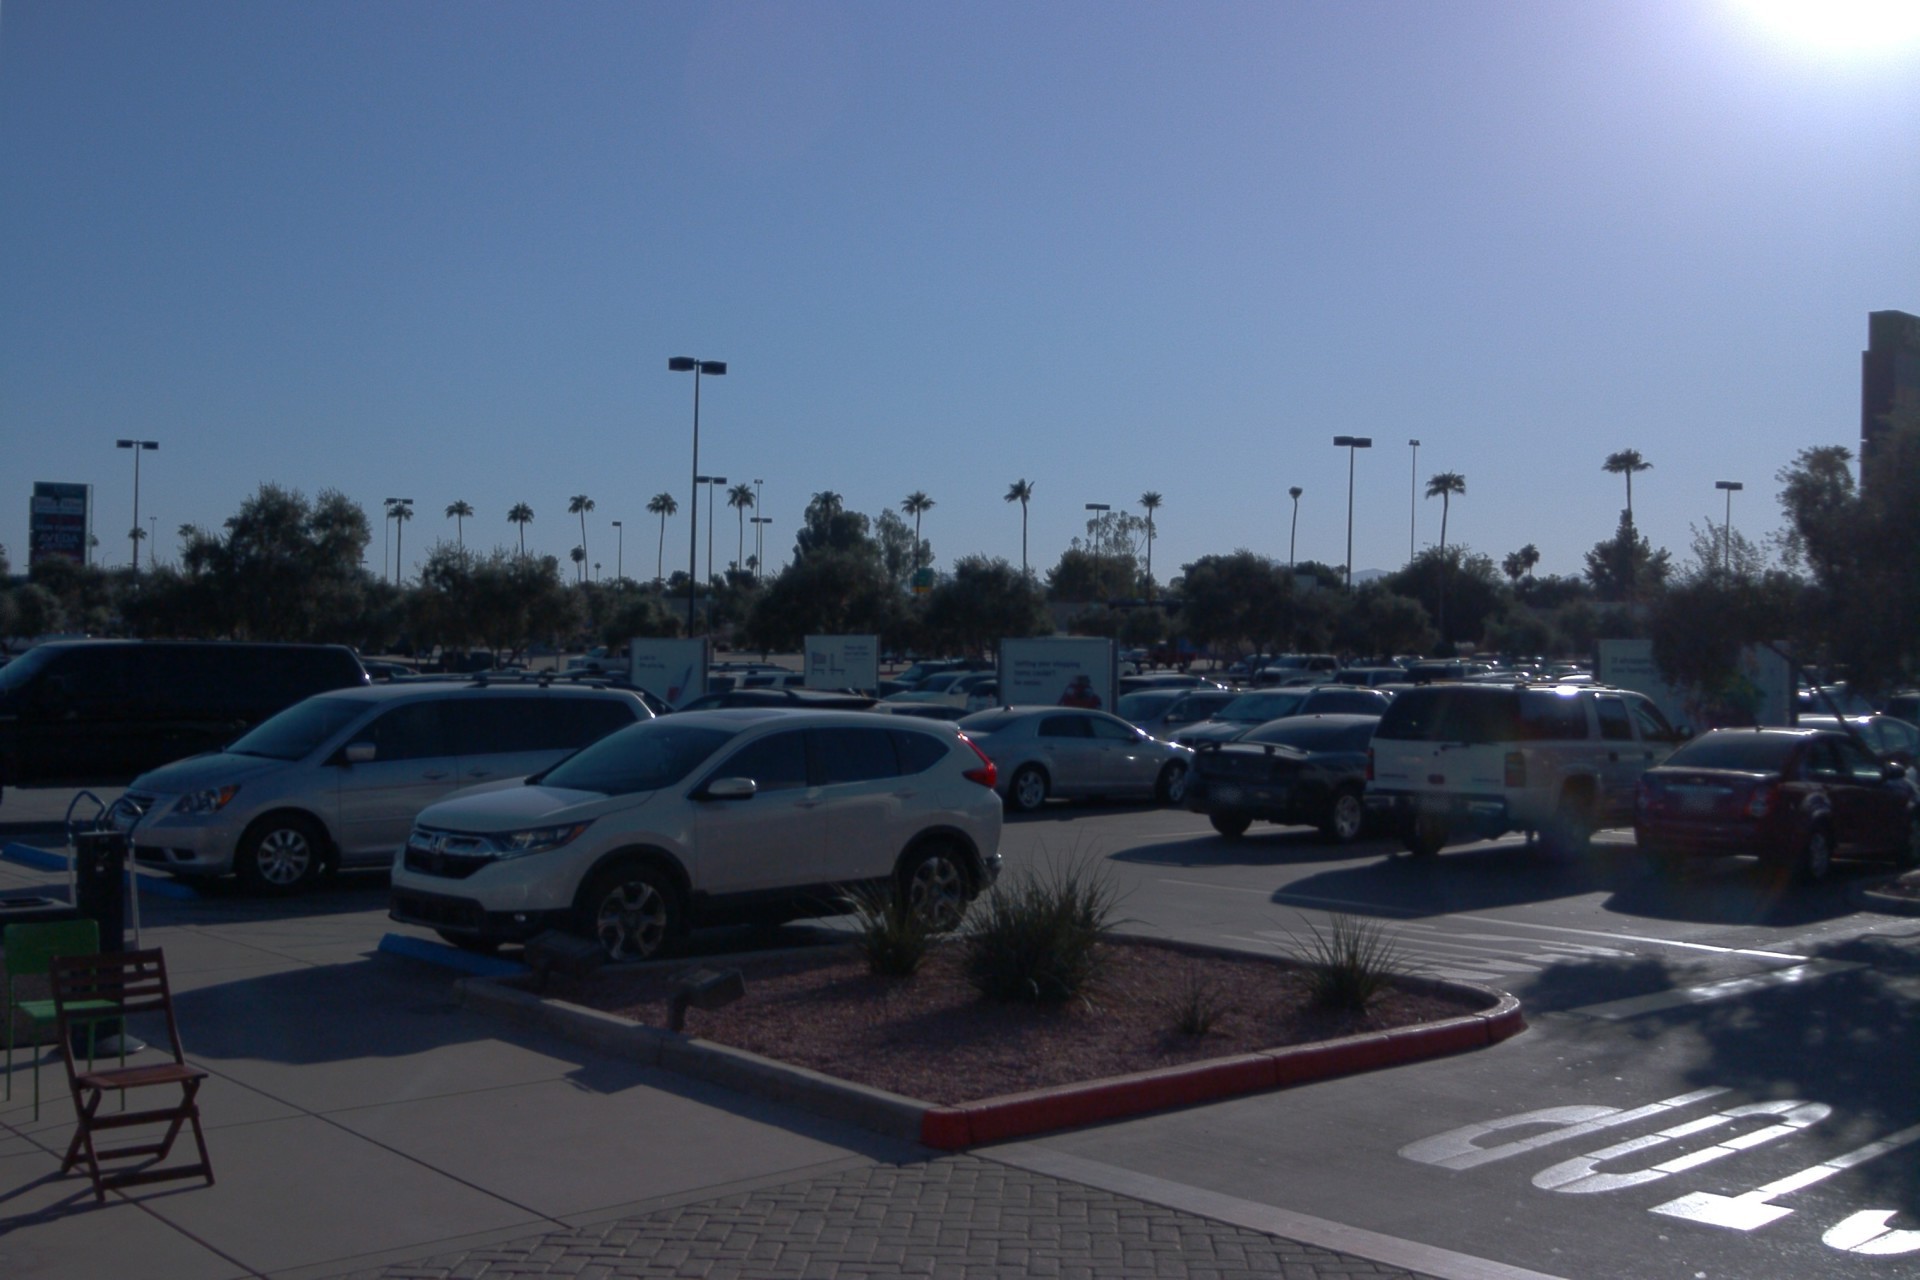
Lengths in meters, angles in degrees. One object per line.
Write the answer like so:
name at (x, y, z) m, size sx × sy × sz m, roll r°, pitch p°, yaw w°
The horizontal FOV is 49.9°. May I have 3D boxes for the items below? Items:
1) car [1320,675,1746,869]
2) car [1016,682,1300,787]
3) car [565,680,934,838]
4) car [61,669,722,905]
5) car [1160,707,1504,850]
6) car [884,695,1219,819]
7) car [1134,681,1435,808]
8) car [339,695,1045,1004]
car at (6.545, 1.356, 23.189) m, size 5.317 × 1.880 × 2.178 m, roll 1°, pitch 0°, yaw -44°
car at (3.455, 1.561, 35.475) m, size 4.796 × 1.600 × 2.186 m, roll 1°, pitch 0°, yaw -42°
car at (-2.782, 1.454, 26.730) m, size 4.564 × 1.770 × 2.205 m, roll 0°, pitch 0°, yaw 41°
car at (-4.947, 1.169, 18.575) m, size 5.286 × 1.780 × 2.246 m, roll 1°, pitch 0°, yaw -44°
car at (4.628, 1.626, 25.336) m, size 4.346 × 1.490 × 1.909 m, roll 1°, pitch 0°, yaw -43°
car at (1.384, 1.613, 29.756) m, size 4.773 × 1.560 × 1.931 m, roll 1°, pitch 0°, yaw -40°
car at (5.314, 1.613, 33.450) m, size 4.865 × 1.830 × 2.266 m, roll 1°, pitch 0°, yaw -42°
car at (-1.726, 1.289, 14.503) m, size 2.159 × 1.710 × 4.564 m, roll 0°, pitch 0°, yaw 43°
